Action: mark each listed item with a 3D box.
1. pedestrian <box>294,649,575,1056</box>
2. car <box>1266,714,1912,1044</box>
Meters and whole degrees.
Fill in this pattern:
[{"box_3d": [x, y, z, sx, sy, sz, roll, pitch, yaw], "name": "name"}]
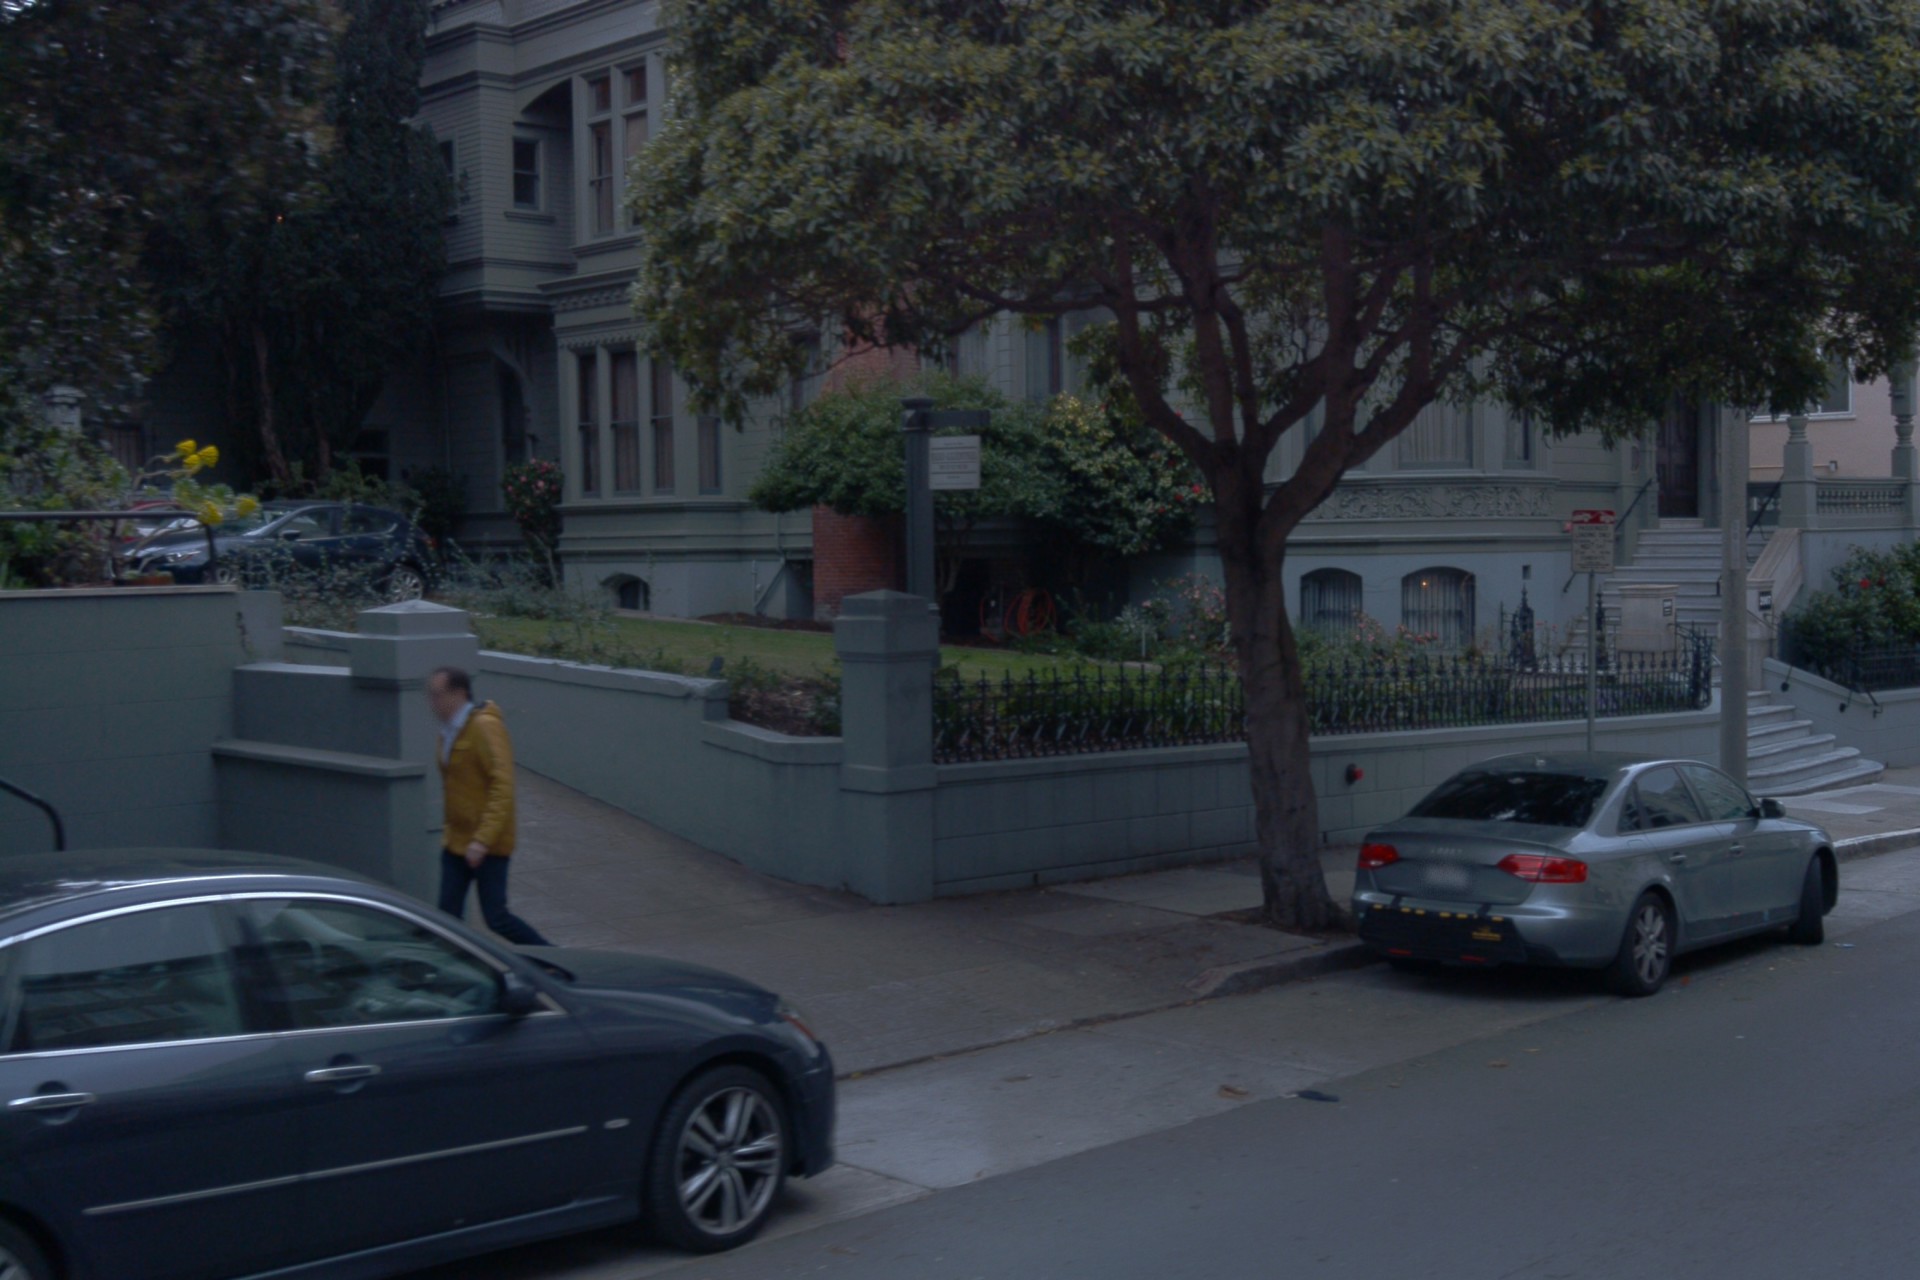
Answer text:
[{"box_3d": [-2.624, 0.994, 10.259, 0.981, 1.870, 0.989, 2, 1, 45], "name": "pedestrian"}, {"box_3d": [4.419, 1.414, 13.900, 2.170, 1.580, 4.984, 1, 1, 43], "name": "car"}]
